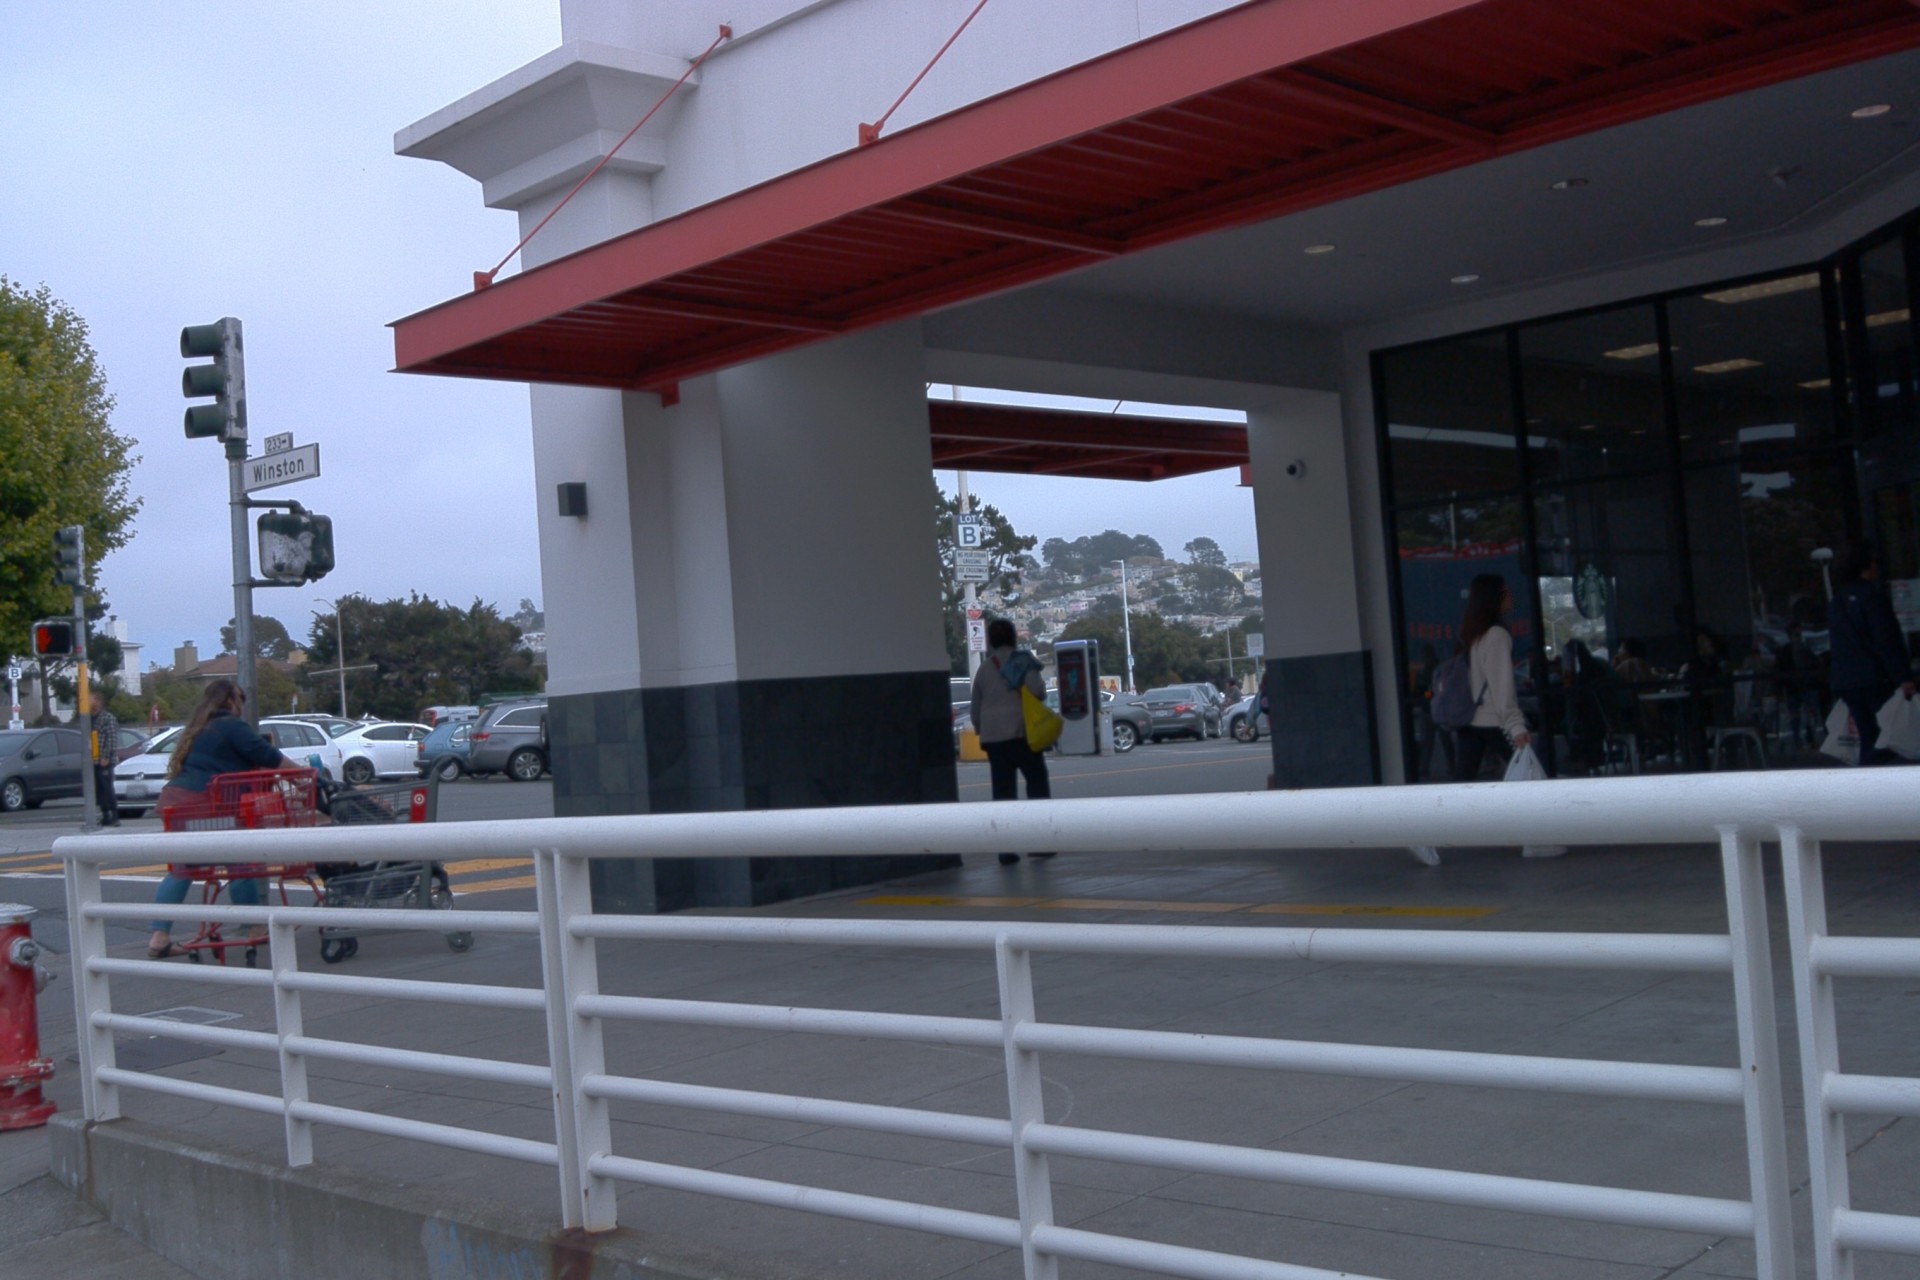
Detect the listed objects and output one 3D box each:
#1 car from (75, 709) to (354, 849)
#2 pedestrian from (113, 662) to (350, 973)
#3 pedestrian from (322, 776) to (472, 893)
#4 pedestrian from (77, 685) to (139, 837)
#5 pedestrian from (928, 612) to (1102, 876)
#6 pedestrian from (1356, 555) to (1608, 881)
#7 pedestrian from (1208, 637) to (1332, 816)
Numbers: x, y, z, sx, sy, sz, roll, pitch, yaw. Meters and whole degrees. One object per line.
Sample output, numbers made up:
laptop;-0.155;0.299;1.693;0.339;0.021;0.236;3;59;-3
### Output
car;-11.161;2.026;31.137;1.974;1.760;4.391;0;1;12
pedestrian;-4.298;1.001;12.149;1.124;1.710;0.710;0;0;-42
pedestrian;-3.502;1.198;12.800;0.767;0.640;0.484;-1;0;-41
pedestrian;-10.993;1.546;26.530;0.614;1.900;0.747;0;0;-33
pedestrian;0.353;0.620;12.886;0.787;1.580;0.809;0;0;32
pedestrian;2.649;0.374;10.492;0.952;1.580;0.817;0;0;-16
pedestrian;2.963;0.797;19.620;0.789;1.650;0.936;0;0;41
